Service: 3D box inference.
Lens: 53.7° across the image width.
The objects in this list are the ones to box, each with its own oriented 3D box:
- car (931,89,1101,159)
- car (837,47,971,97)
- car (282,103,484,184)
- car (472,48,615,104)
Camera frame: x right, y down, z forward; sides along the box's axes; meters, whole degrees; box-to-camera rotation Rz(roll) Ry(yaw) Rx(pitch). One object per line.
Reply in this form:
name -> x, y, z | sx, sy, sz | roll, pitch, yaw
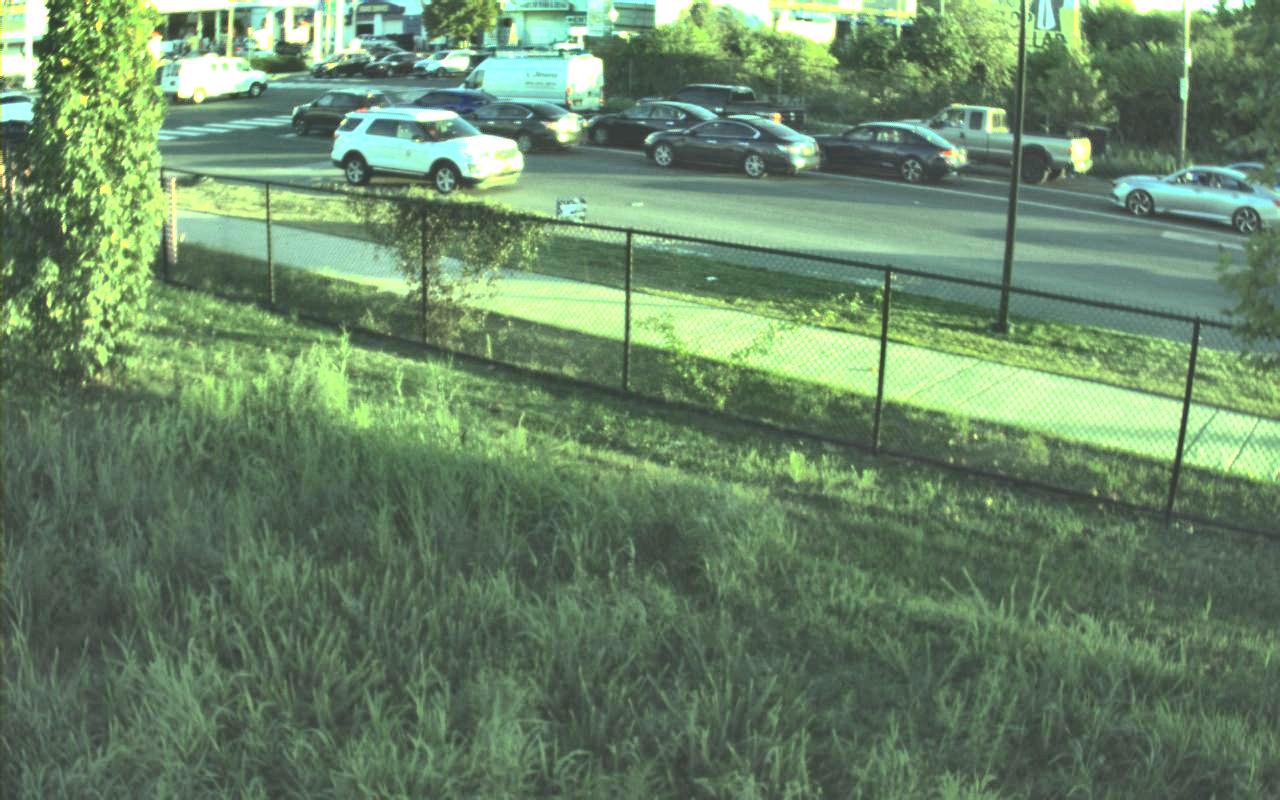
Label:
car -> 10.848, -7.943, 34.543 | 4.686, 1.648, 2.006 | 10, 19, 33
car -> 10.434, -12.953, 47.983 | 4.914, 1.793, 2.101 | 10, 19, 33
car -> -6.188, -6.109, 29.040 | 4.760, 1.649, 2.099 | 9, 19, 32
car -> -3.504, -11.543, 44.117 | 4.884, 1.889, 2.101 | 10, 19, 33
